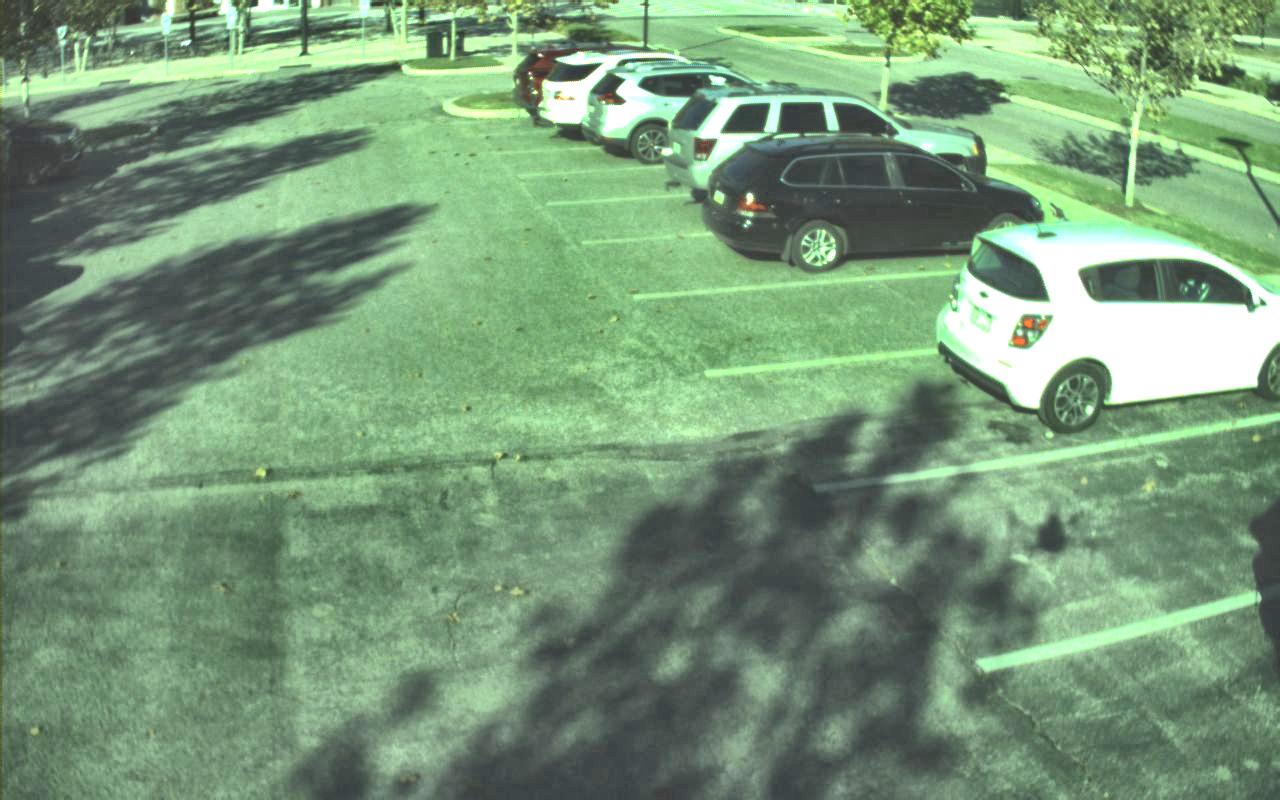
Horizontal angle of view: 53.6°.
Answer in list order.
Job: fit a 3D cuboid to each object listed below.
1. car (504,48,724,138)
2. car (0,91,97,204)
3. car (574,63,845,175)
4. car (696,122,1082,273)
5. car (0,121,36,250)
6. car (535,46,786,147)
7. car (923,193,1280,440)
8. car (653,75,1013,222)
[{"bbox_3d":[-0.614,-6.829,27.380,4.500,1.773,1.995,-6,17,-16],"label":"car"},{"bbox_3d":[-13.287,-4.979,21.892,4.578,1.696,2.037,1,16,5],"label":"car"},{"bbox_3d":[1.238,-5.157,22.503,4.553,1.798,1.994,-5,17,-14],"label":"car"},{"bbox_3d":[3.124,-2.620,15.379,4.510,1.522,1.919,-5,17,-13],"label":"car"},{"bbox_3d":[-13.188,-3.789,19.113,4.487,1.648,1.988,-4,17,-11],"label":"car"},{"bbox_3d":[0.378,-6.095,24.634,4.598,1.813,2.012,-6,17,-16],"label":"car"},{"bbox_3d":[4.801,-0.912,10.677,4.157,1.636,1.888,-5,17,-14],"label":"car"},{"bbox_3d":[2.778,-3.713,17.753,4.815,1.844,2.055,-5,17,-13],"label":"car"}]
